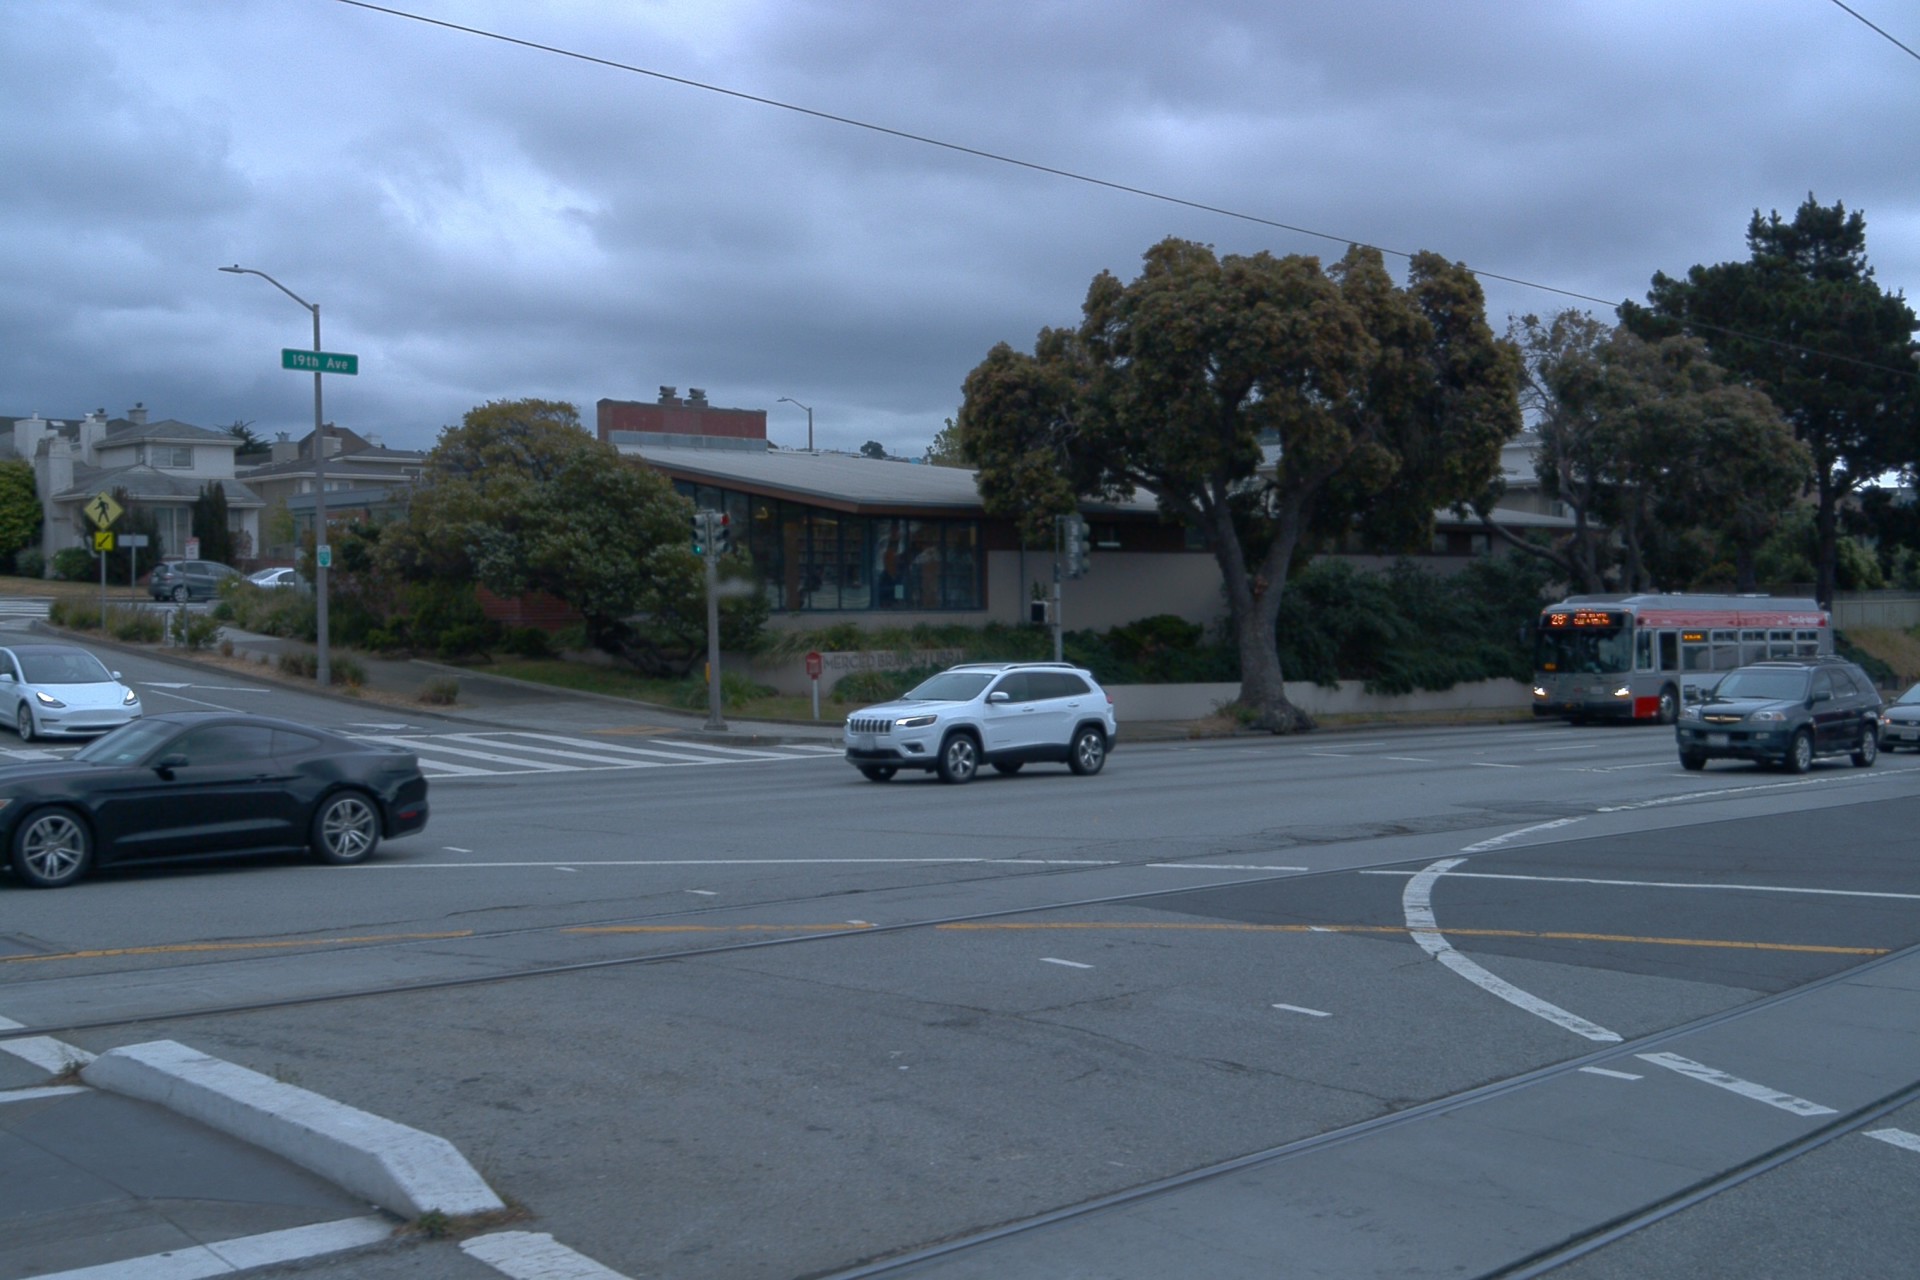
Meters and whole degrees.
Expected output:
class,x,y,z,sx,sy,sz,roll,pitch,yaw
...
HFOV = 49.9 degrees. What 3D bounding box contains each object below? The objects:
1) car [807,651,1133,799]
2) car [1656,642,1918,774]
class,x,y,z,sx,sy,sz,roll,pitch,yaw
car,0.219,1.134,29.492,4.542,1.860,2.043,-1,1,-45
car,13.341,1.013,33.140,2.154,1.890,4.990,1,1,44
